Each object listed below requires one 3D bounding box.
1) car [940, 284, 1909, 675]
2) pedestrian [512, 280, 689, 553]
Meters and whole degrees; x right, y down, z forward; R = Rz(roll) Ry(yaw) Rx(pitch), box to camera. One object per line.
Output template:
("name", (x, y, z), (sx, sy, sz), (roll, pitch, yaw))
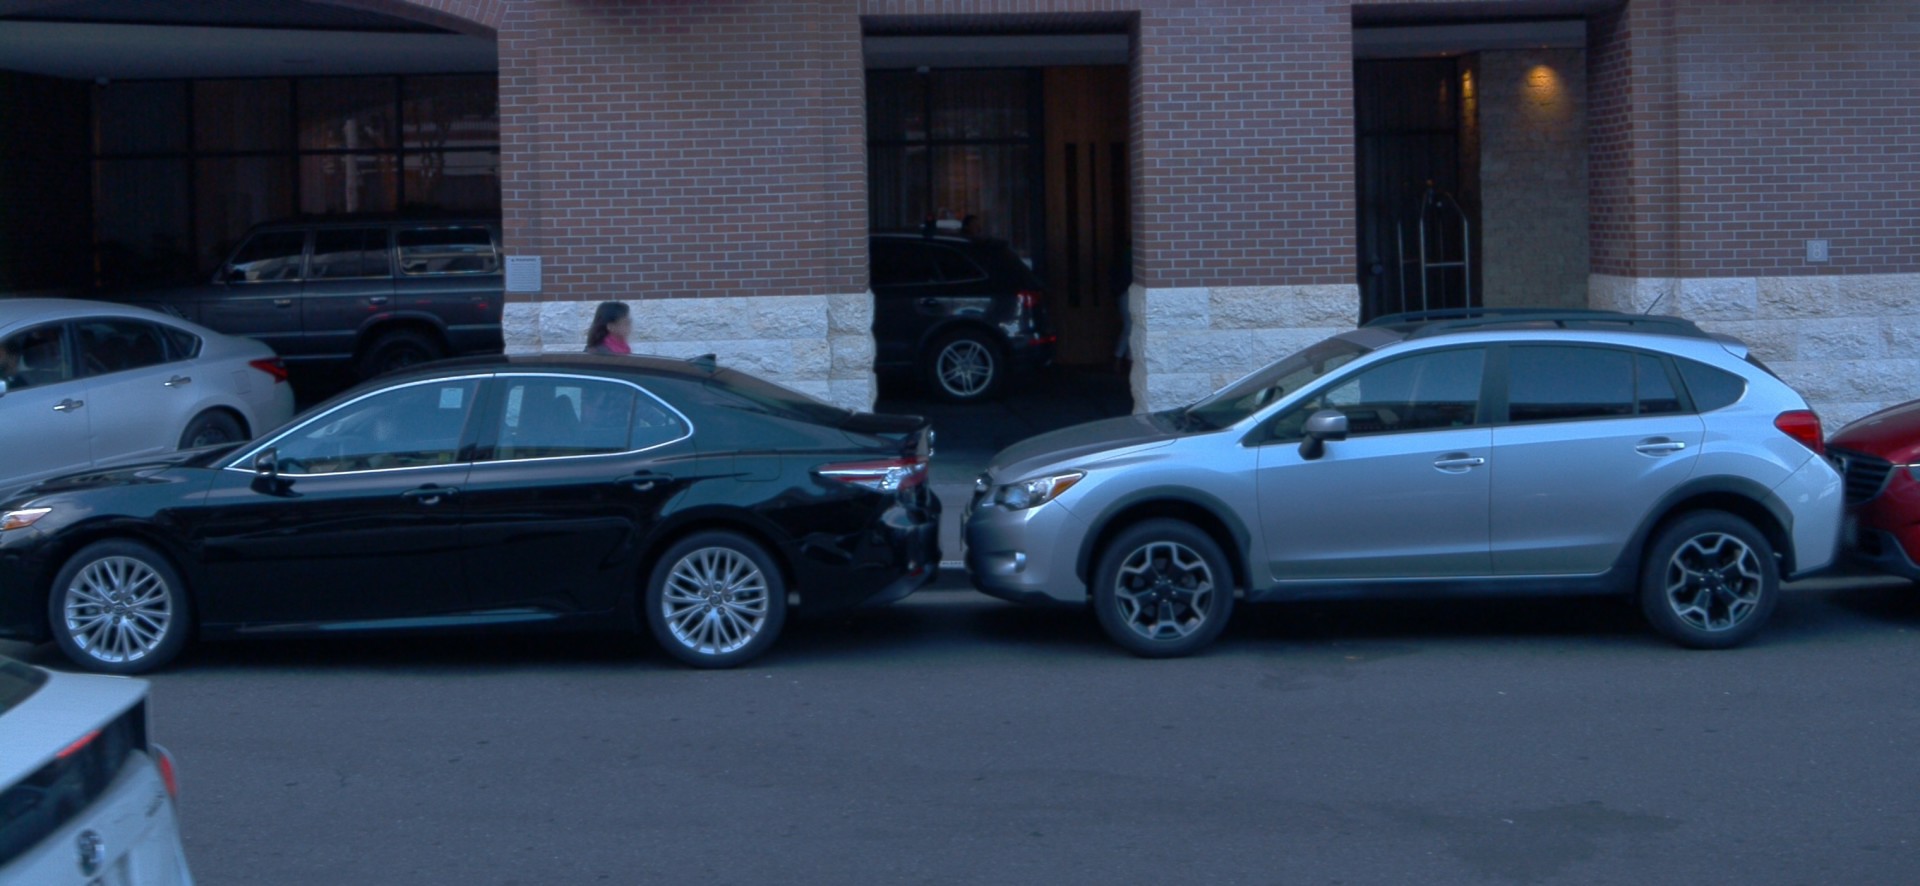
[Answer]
("car", (2.148, 0.094, 10.564), (4.456, 1.687, 2.062), (-1, 4, 0))
("pedestrian", (-2.199, -0.195, 12.757), (0.931, 1.581, 0.962), (-1, 3, -2))
